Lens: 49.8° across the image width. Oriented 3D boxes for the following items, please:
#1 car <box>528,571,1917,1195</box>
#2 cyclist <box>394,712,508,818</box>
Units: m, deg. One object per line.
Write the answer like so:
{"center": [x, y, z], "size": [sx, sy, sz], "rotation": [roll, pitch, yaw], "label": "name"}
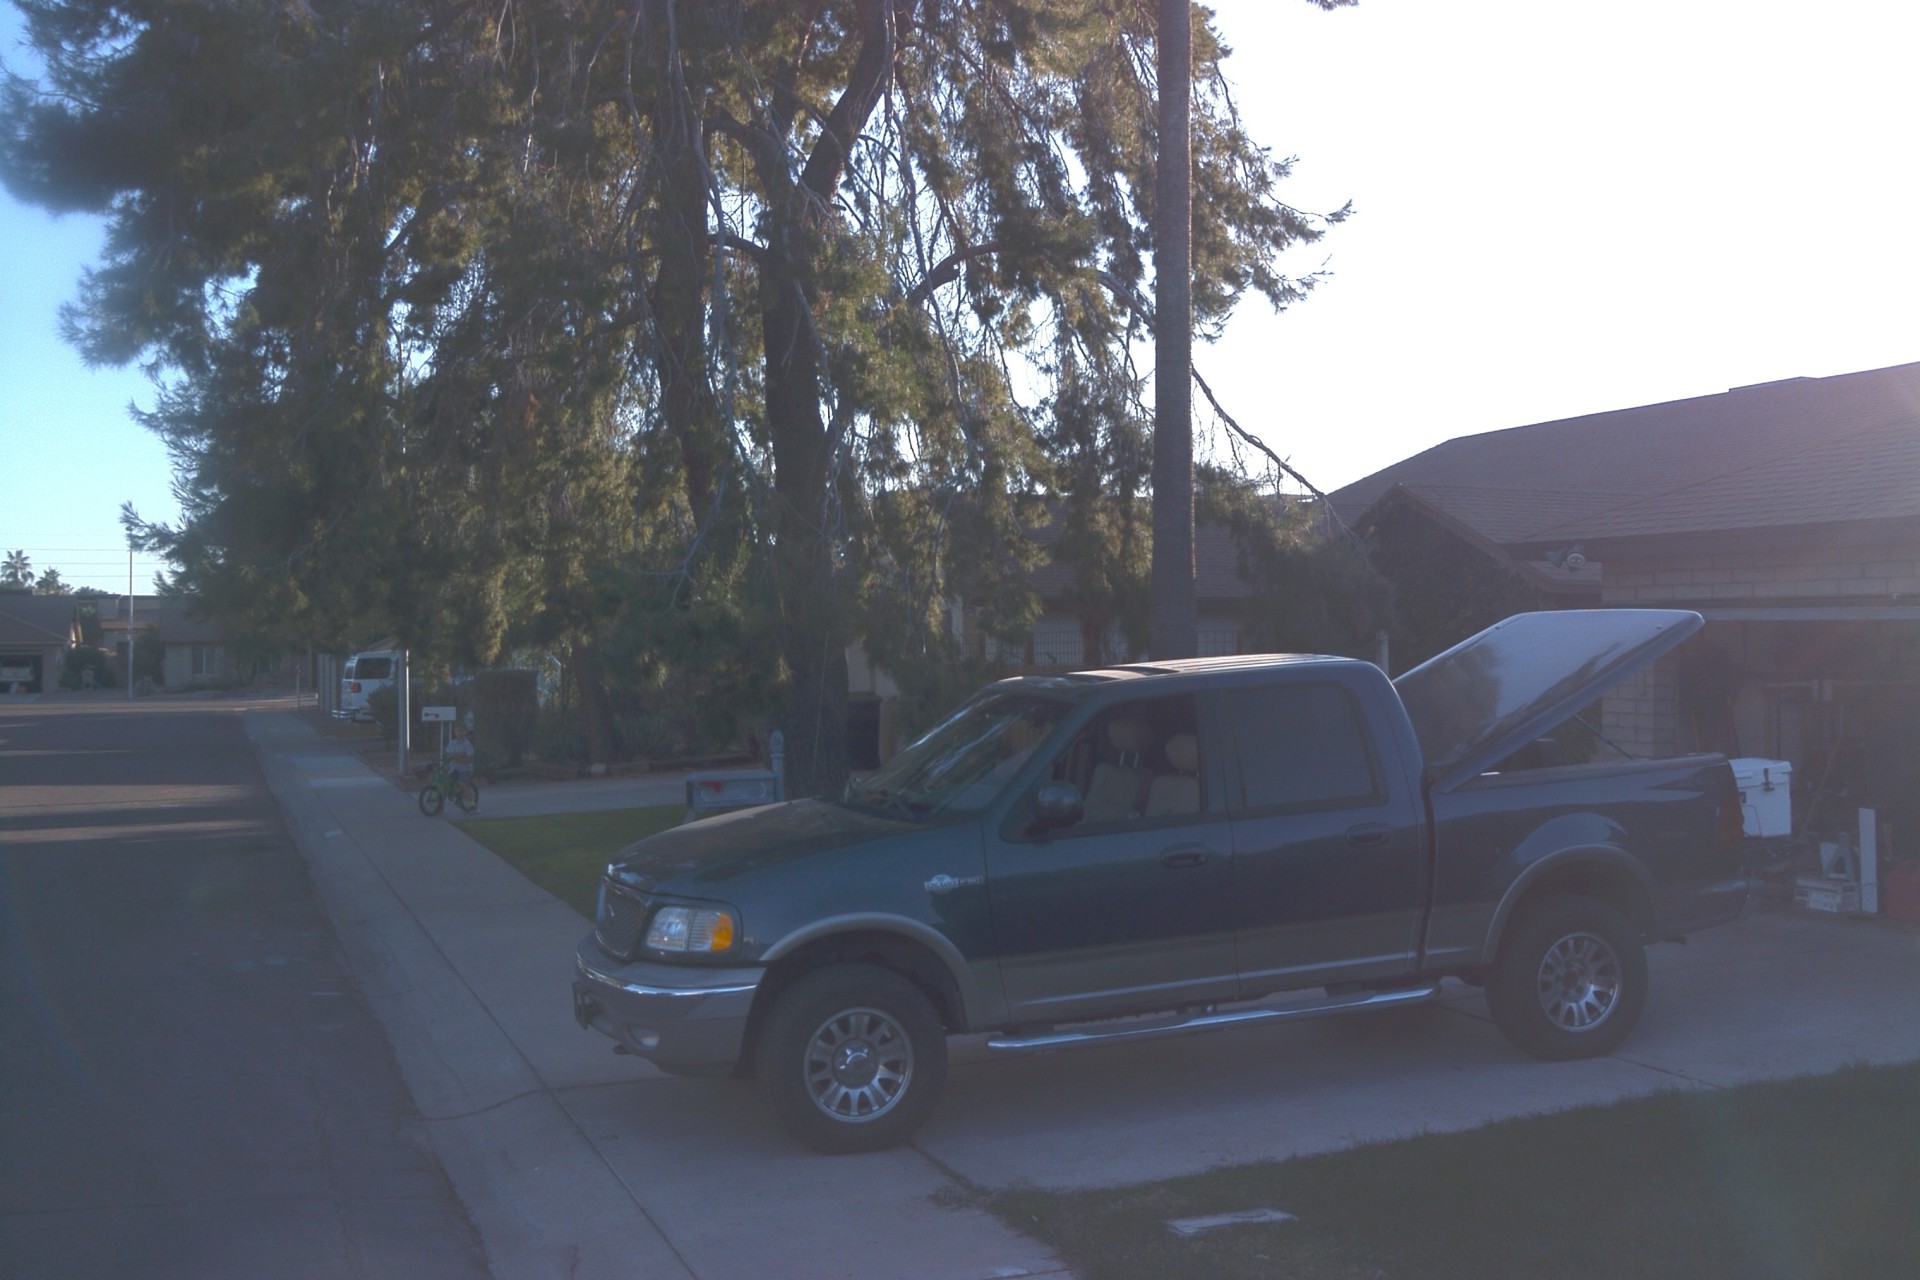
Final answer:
{"center": [1.234, 0.945, 10.026], "size": [6.233, 2.360, 2.443], "rotation": [0, -1, -19], "label": "car"}
{"center": [-6.479, 1.576, 26.412], "size": [0.763, 1.280, 1.282], "rotation": [0, -1, 27], "label": "cyclist"}
